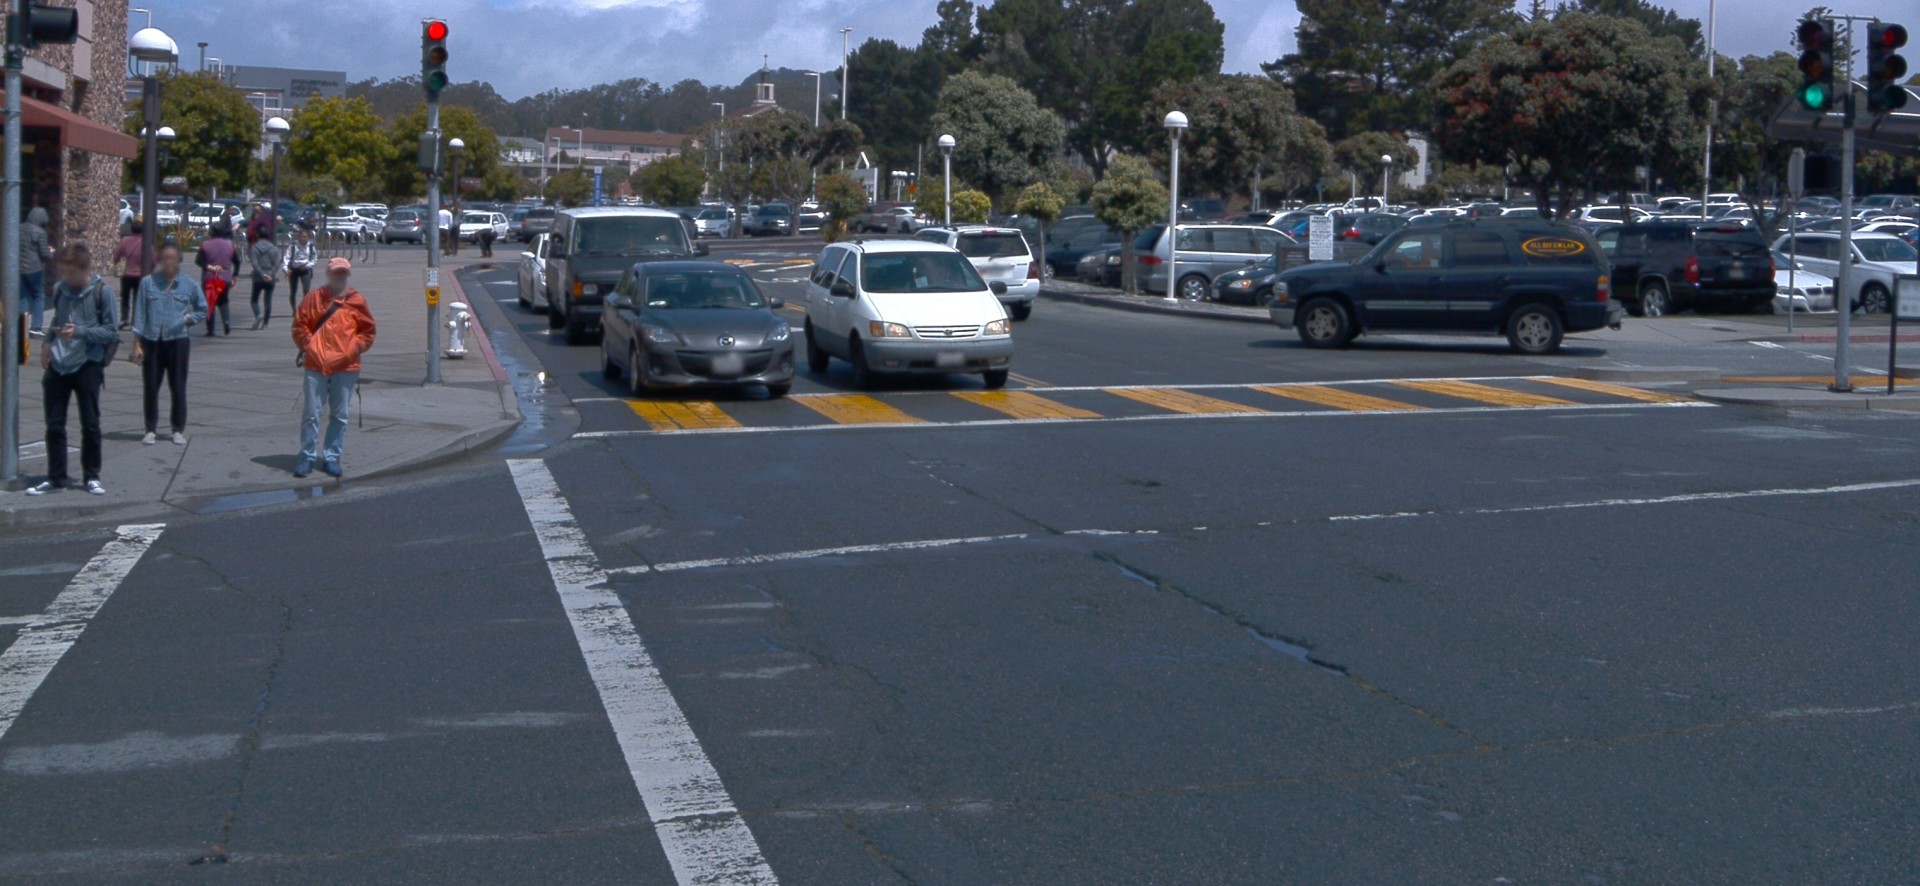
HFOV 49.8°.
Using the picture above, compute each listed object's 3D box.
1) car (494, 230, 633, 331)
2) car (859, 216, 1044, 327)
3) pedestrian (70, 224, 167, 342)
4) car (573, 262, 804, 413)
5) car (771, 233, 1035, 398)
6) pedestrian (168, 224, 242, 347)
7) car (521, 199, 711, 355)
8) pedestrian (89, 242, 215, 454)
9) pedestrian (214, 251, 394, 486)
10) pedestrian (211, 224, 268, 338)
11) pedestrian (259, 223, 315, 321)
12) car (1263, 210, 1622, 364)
[{"bbox_3d":[-7.587,-3.137,39.221,2.065,1.721,4.572,-2,6,-17],"label":"car"},{"bbox_3d":[-0.240,-3.183,37.618,2.098,1.841,4.687,-2,6,-17],"label":"car"},{"bbox_3d":[-11.745,-2.248,28.851,1.033,1.586,0.933,-3,3,-36],"label":"pedestrian"},{"bbox_3d":[-3.243,-1.306,23.923,1.964,1.442,4.395,-2,6,-16],"label":"car"},{"bbox_3d":[-0.816,-1.659,25.322,2.028,1.741,4.628,-2,6,-17],"label":"car"},{"bbox_3d":[-10.337,-2.175,28.310,0.815,1.647,0.655,-2,2,-31],"label":"pedestrian"},{"bbox_3d":[-5.492,-2.694,32.386,2.374,2.189,5.386,-2,6,-15],"label":"car"},{"bbox_3d":[-6.587,-0.804,16.894,0.832,1.646,0.983,-1,3,-15],"label":"pedestrian"},{"bbox_3d":[-5.120,-0.615,16.211,0.865,1.736,1.256,0,3,8],"label":"pedestrian"},{"bbox_3d":[-10.620,-2.399,30.456,0.699,1.647,0.654,-1,2,-25],"label":"pedestrian"},{"bbox_3d":[-11.109,-2.829,34.090,0.785,1.579,0.903,-1,3,-23],"label":"pedestrian"},{"bbox_3d":[7.021,-2.306,29.961,4.901,2.080,2.159,1,4,18],"label":"car"}]
